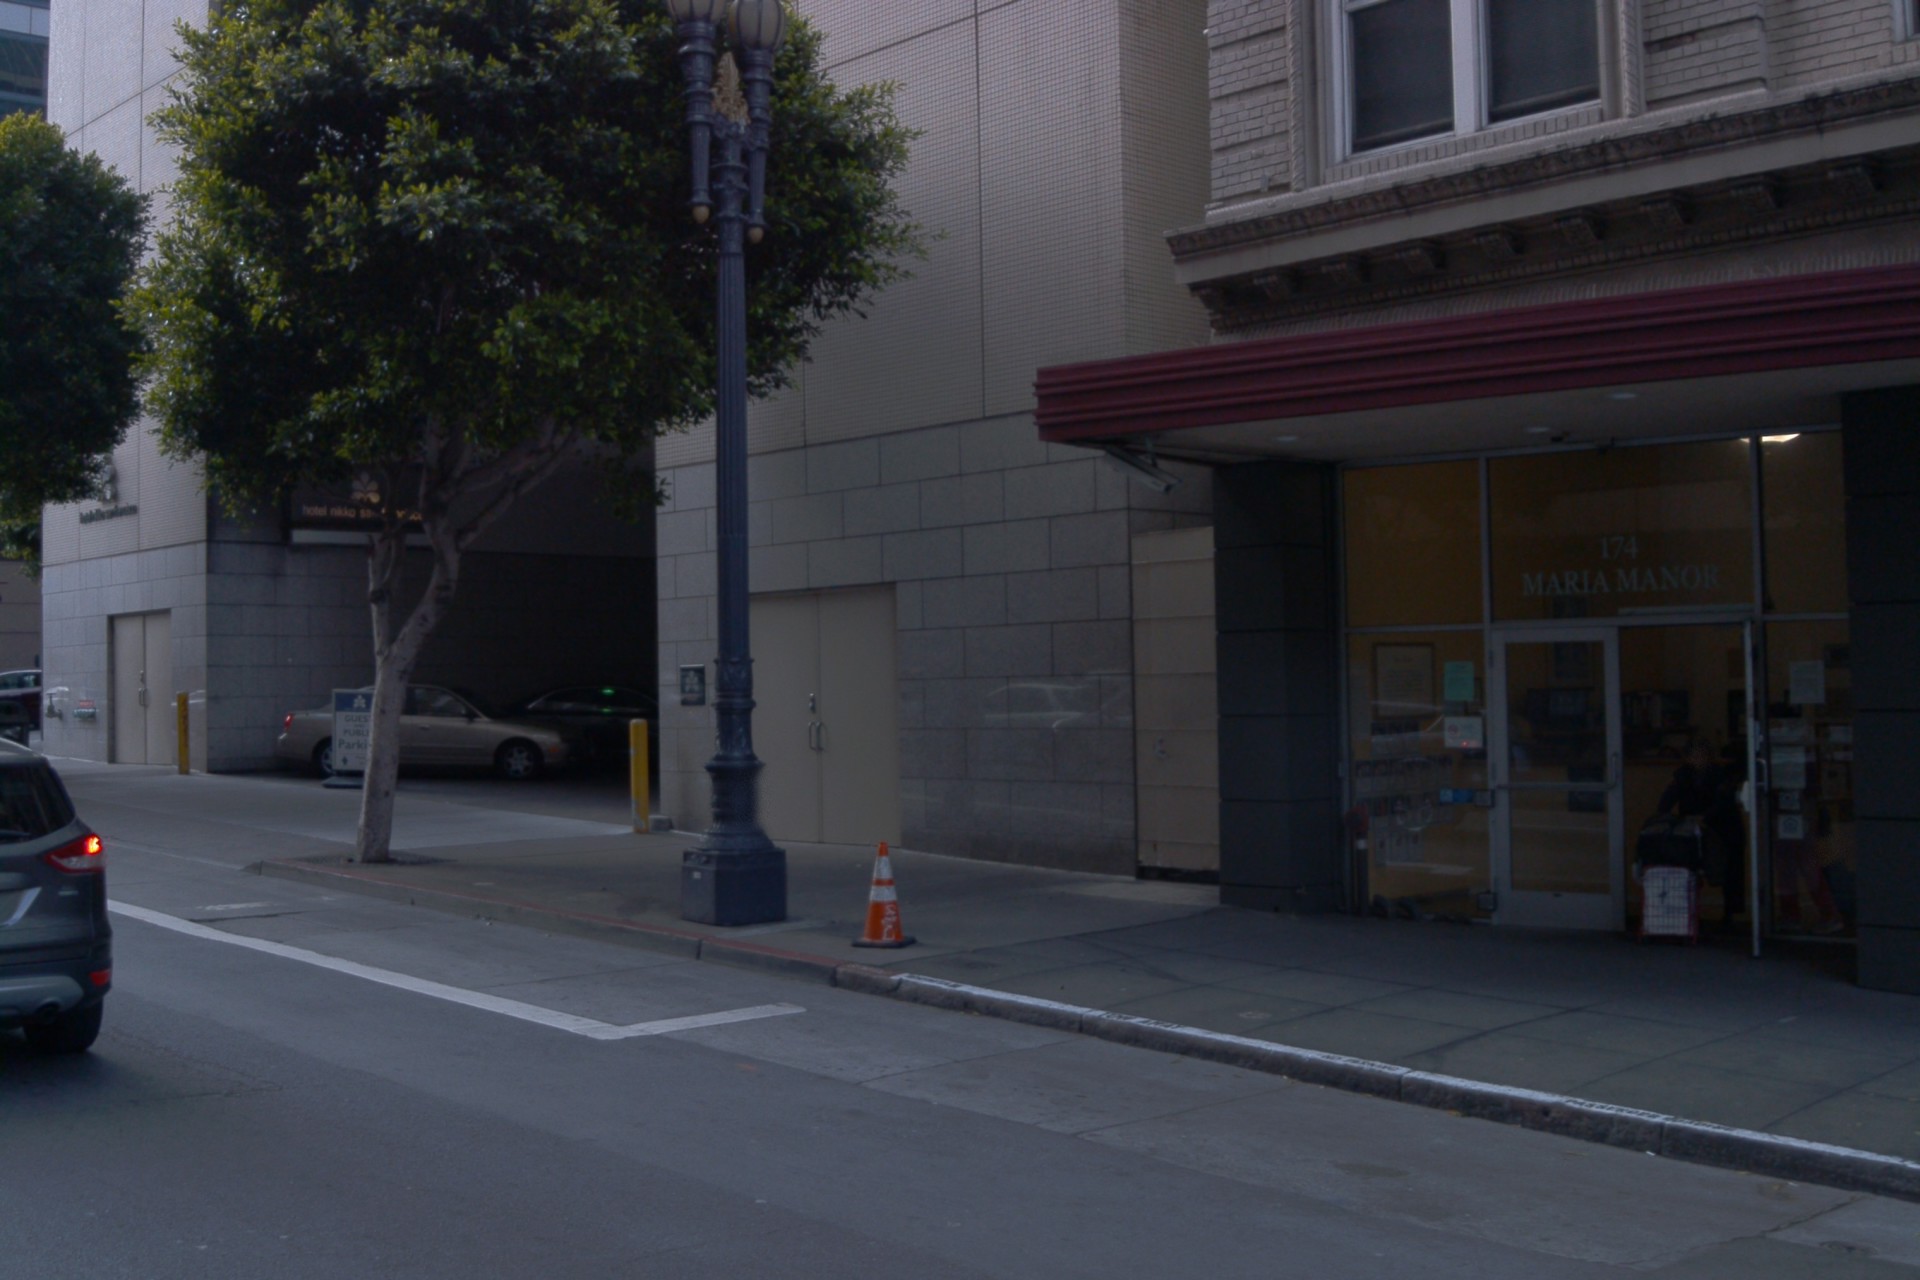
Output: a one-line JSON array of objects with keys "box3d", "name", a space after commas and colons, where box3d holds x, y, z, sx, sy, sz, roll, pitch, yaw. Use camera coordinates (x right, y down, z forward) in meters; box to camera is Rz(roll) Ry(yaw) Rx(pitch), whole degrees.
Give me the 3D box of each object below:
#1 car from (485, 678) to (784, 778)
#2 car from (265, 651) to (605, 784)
[{"box3d": [-5.115, 1.378, 32.677, 4.430, 1.500, 1.857, 0, 0, 2], "name": "car"}, {"box3d": [-7.650, 1.116, 30.220, 4.540, 1.860, 1.770, 0, 0, 1], "name": "car"}]
